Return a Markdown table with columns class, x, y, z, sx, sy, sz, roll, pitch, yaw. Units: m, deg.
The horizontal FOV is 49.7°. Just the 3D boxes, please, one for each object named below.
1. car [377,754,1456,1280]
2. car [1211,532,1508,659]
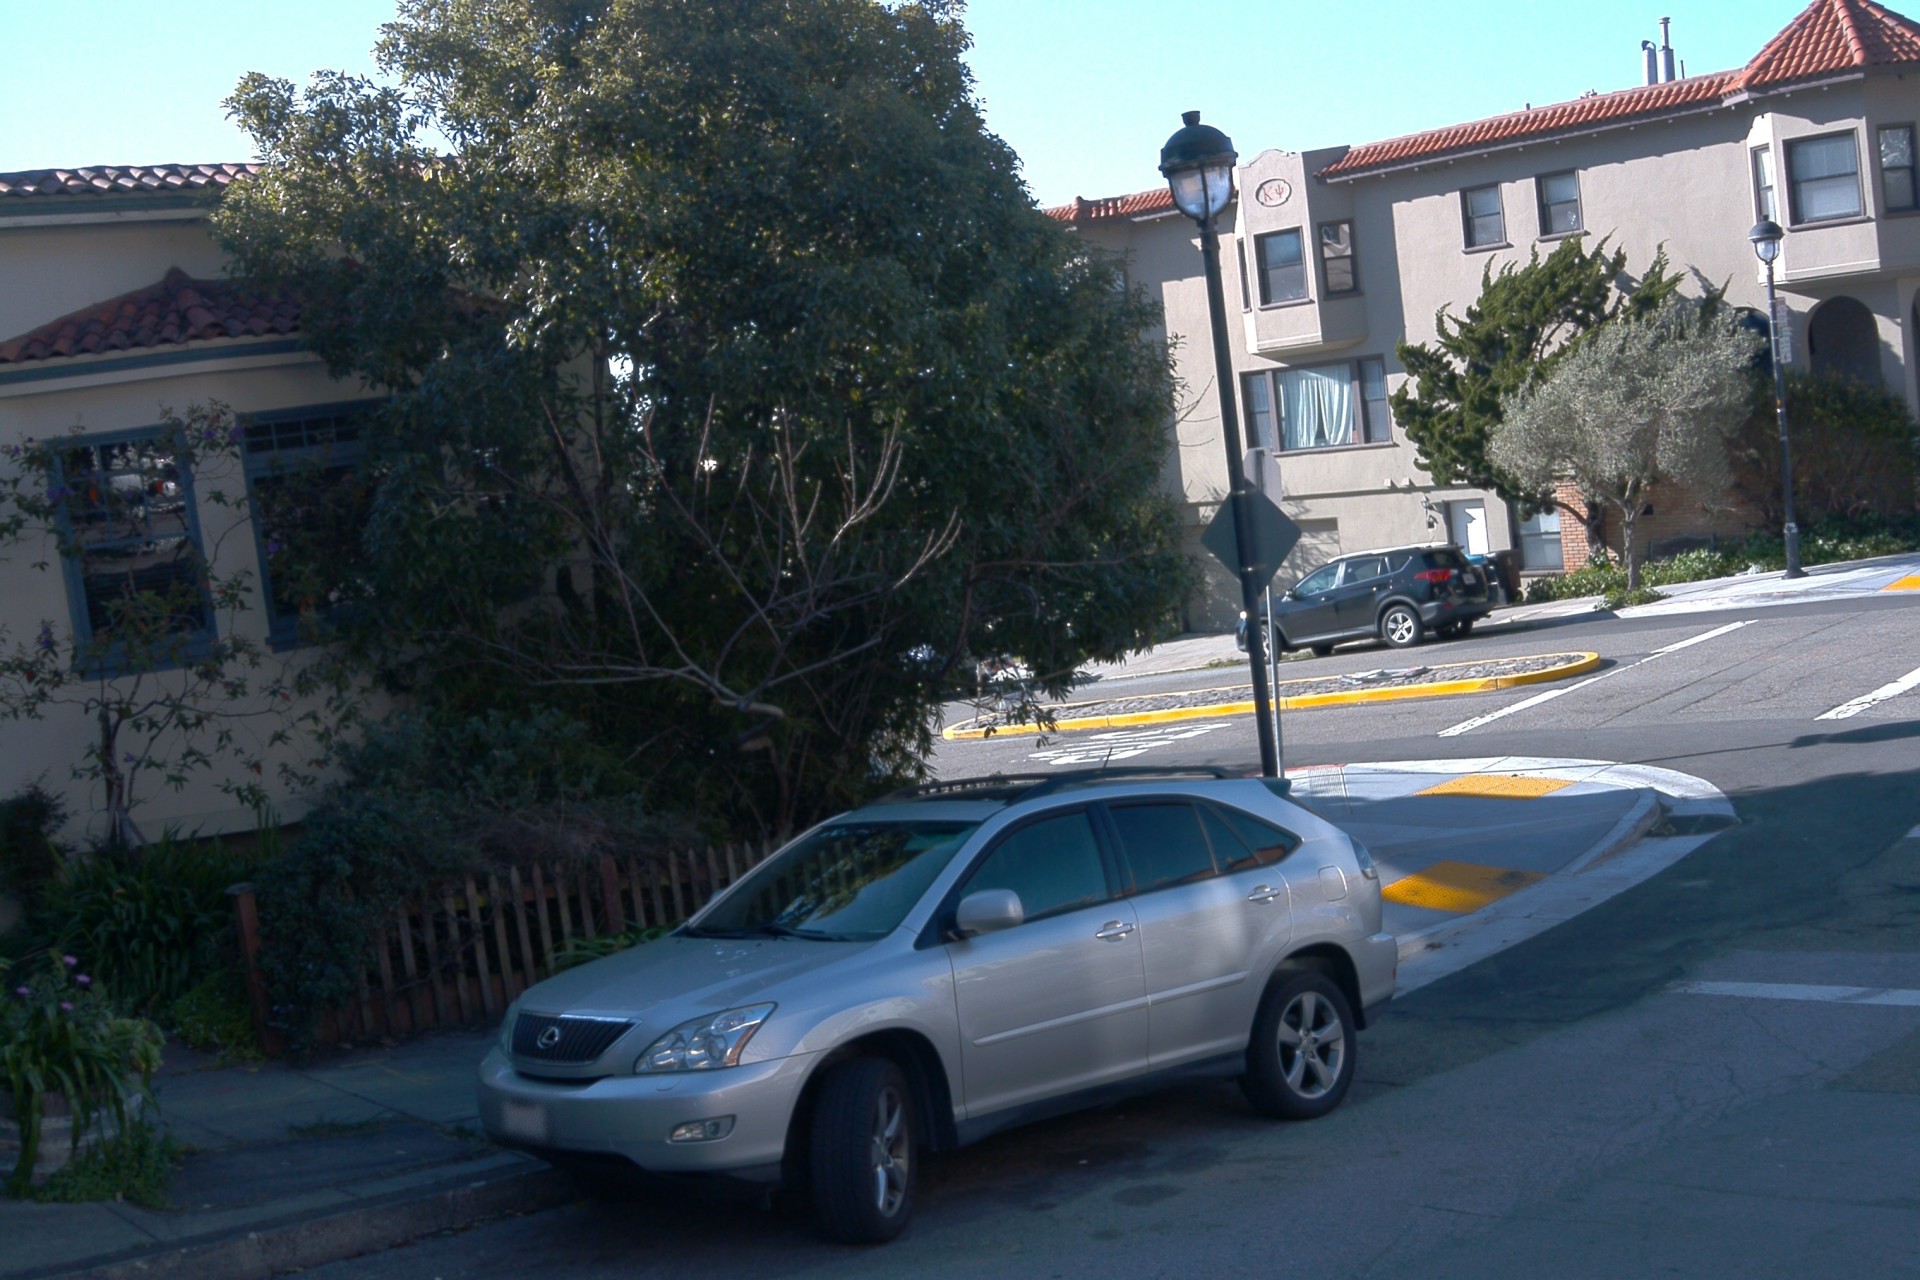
| class | x | y | z | sx | sy | sz | roll | pitch | yaw |
| --- | --- | --- | --- | --- | --- | --- | --- | --- | --- |
| car | 0.011 | 1.569 | 9.407 | 4.666 | 1.810 | 2.097 | -1 | 0 | -43 |
| car | 6.787 | -0.716 | 35.535 | 4.526 | 2.020 | 2.204 | 0 | 0 | 45 |
